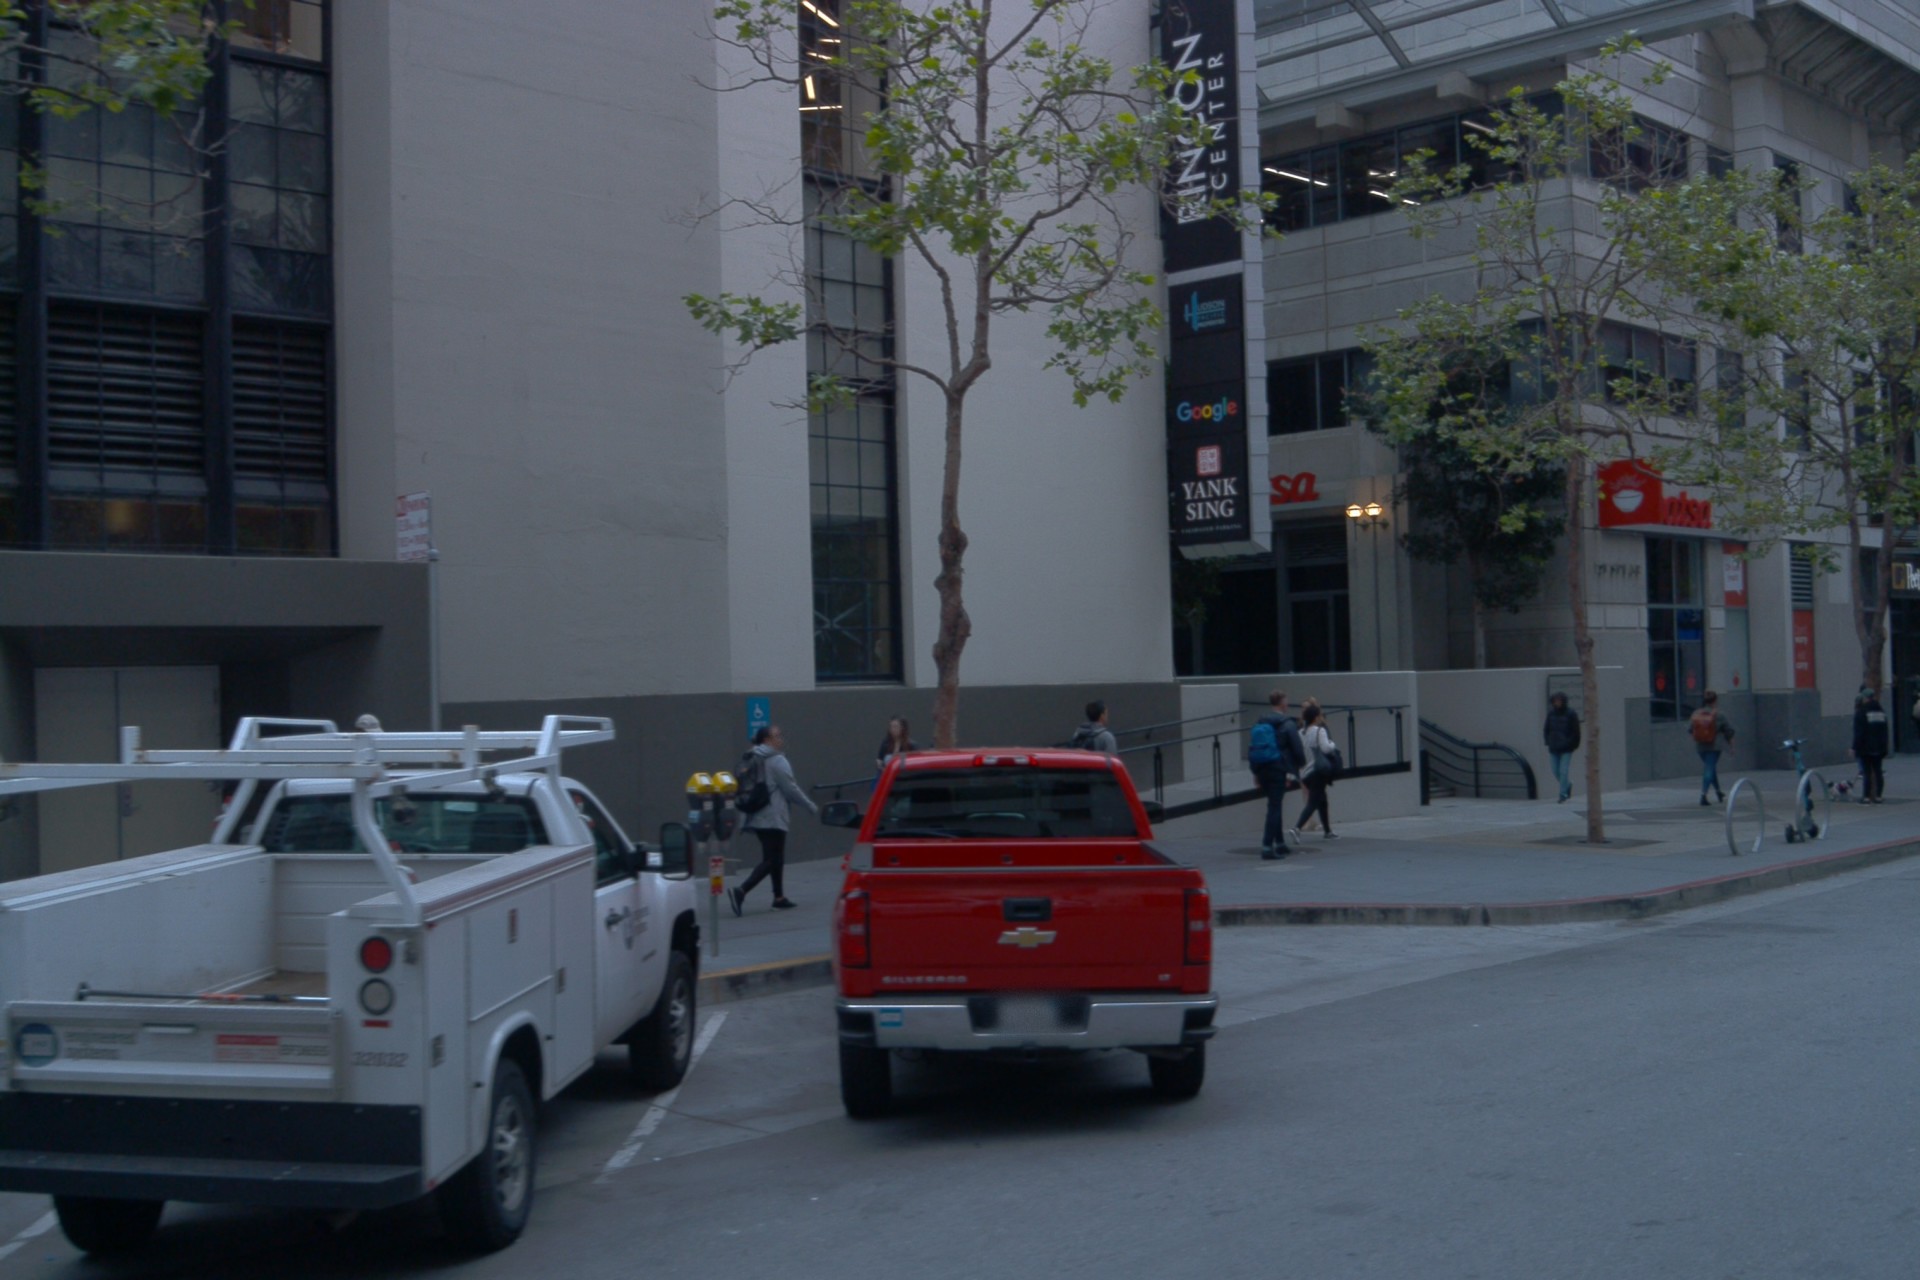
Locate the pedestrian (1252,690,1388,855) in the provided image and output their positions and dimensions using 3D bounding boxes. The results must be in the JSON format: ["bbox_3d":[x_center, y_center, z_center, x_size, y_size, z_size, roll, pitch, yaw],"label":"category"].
[{"bbox_3d":[4.136,1.495,23.715,1.198,1.780,1.017,-1,1,-42],"label":"pedestrian"}]

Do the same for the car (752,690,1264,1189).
[{"bbox_3d":[0.179,1.503,12.801,2.444,2.150,5.880,0,1,-1],"label":"car"}]

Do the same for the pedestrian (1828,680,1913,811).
[{"bbox_3d":[12.576,1.441,28.520,0.758,1.750,0.755,0,1,-22],"label":"pedestrian"}]

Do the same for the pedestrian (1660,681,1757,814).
[{"bbox_3d":[10.530,1.490,29.030,1.017,1.774,0.922,-1,1,-45],"label":"pedestrian"}]

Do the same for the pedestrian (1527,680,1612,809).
[{"bbox_3d":[8.929,1.516,30.233,0.800,1.810,1.068,1,1,42],"label":"pedestrian"}]

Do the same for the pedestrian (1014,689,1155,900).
[{"bbox_3d":[1.200,1.452,19.835,1.037,1.903,0.873,-1,1,-42],"label":"pedestrian"}]

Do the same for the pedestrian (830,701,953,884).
[{"bbox_3d":[-0.703,1.555,21.451,0.906,1.790,0.923,0,1,33],"label":"pedestrian"}]

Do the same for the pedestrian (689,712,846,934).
[{"bbox_3d":[-1.651,1.535,17.702,1.000,1.774,0.891,-1,1,-41],"label":"pedestrian"}]

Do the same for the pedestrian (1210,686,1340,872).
[{"bbox_3d":[3.332,1.436,21.788,0.917,1.860,1.056,1,1,44],"label":"pedestrian"}]
